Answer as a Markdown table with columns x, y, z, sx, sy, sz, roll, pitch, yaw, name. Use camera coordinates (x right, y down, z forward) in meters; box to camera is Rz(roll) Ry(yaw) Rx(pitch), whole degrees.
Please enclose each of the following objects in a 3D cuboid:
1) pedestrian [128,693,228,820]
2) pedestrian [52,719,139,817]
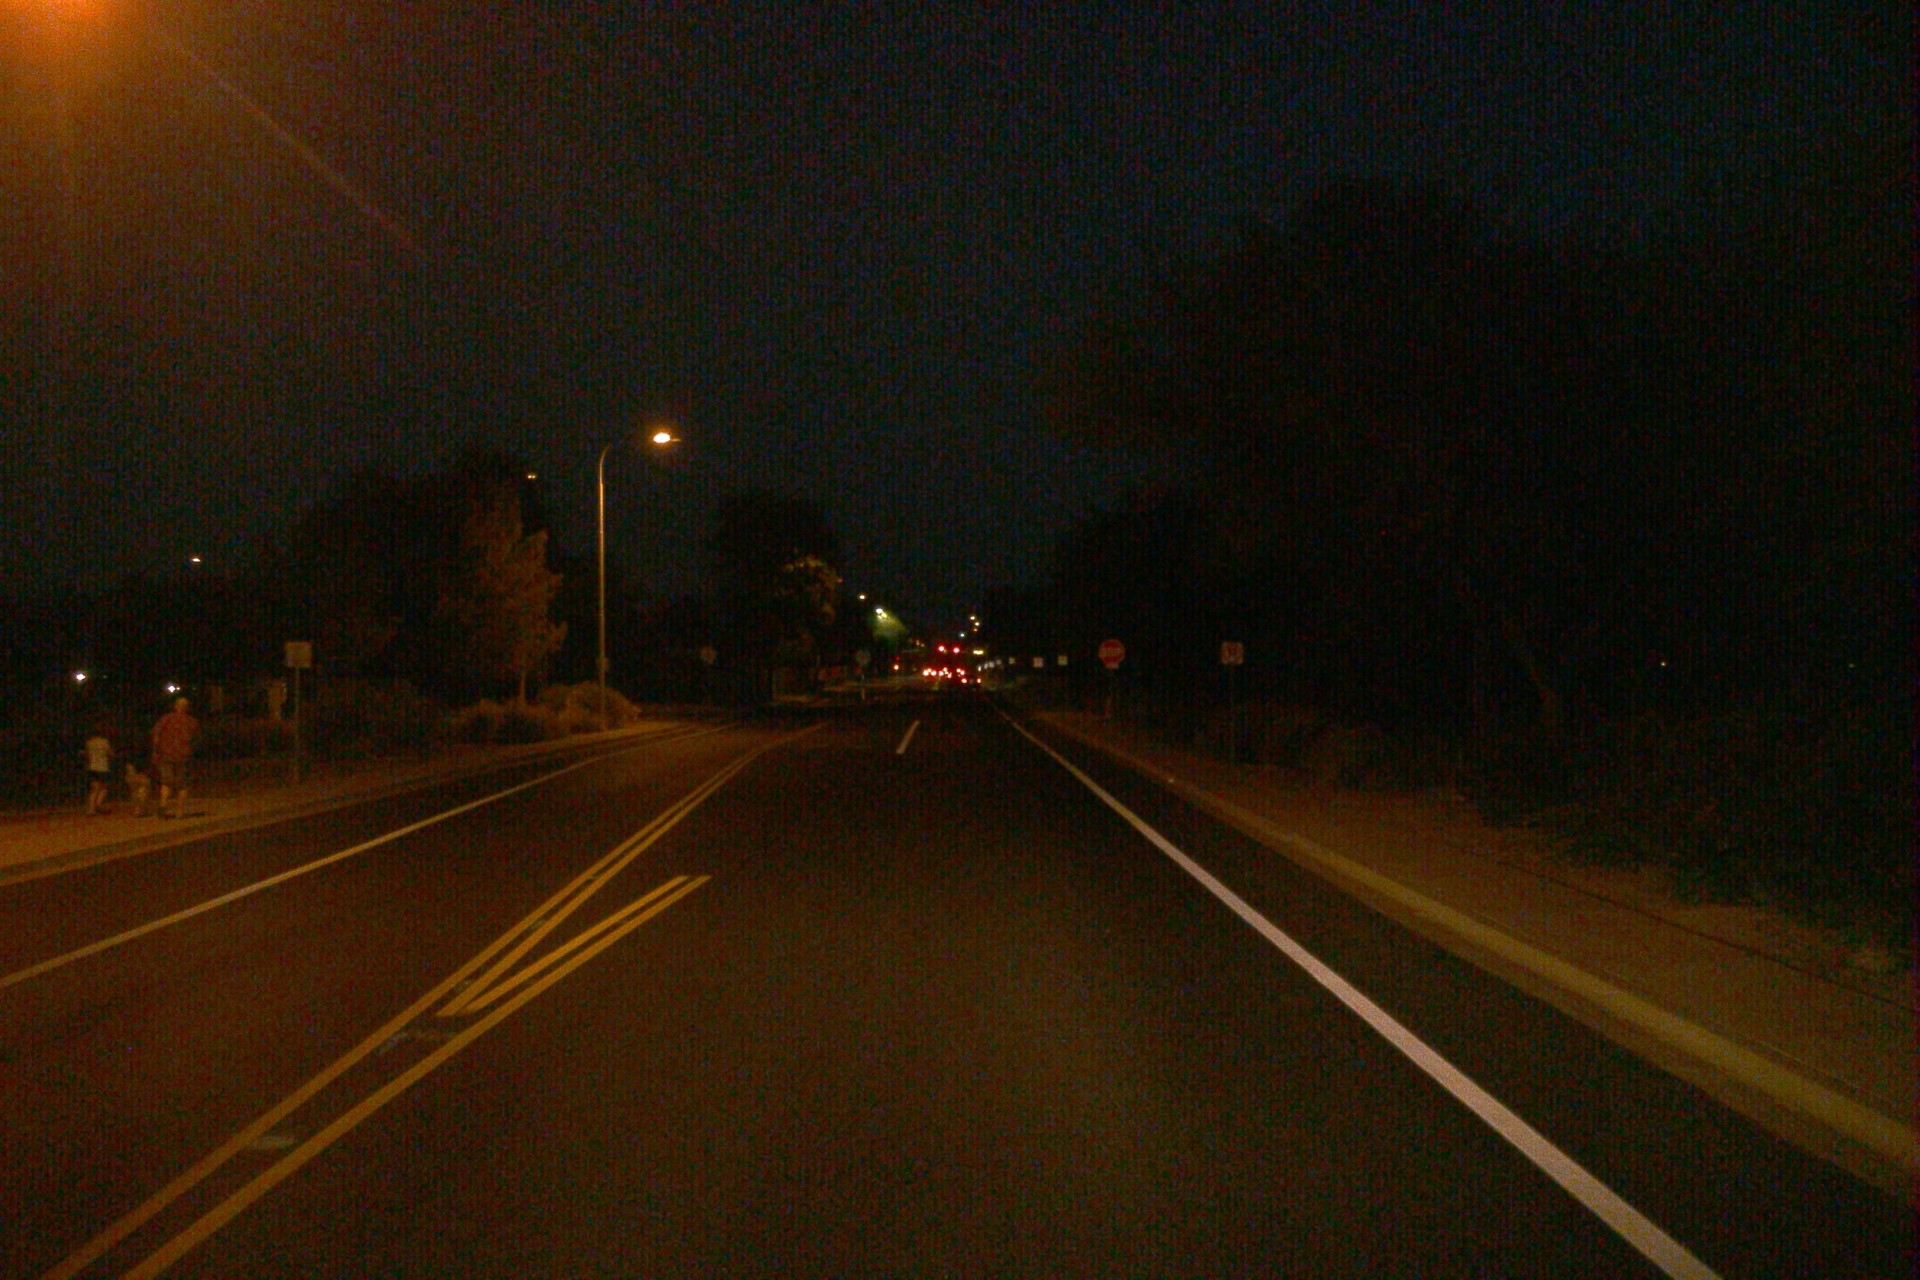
| x | y | z | sx | sy | sz | roll | pitch | yaw | name |
| --- | --- | --- | --- | --- | --- | --- | --- | --- | --- |
| -10.885 | 1.609 | 28.887 | 0.978 | 1.730 | 0.925 | 1 | -1 | 3 | pedestrian |
| -12.712 | 1.874 | 30.509 | 0.897 | 1.400 | 0.935 | 1 | -1 | -2 | pedestrian |
